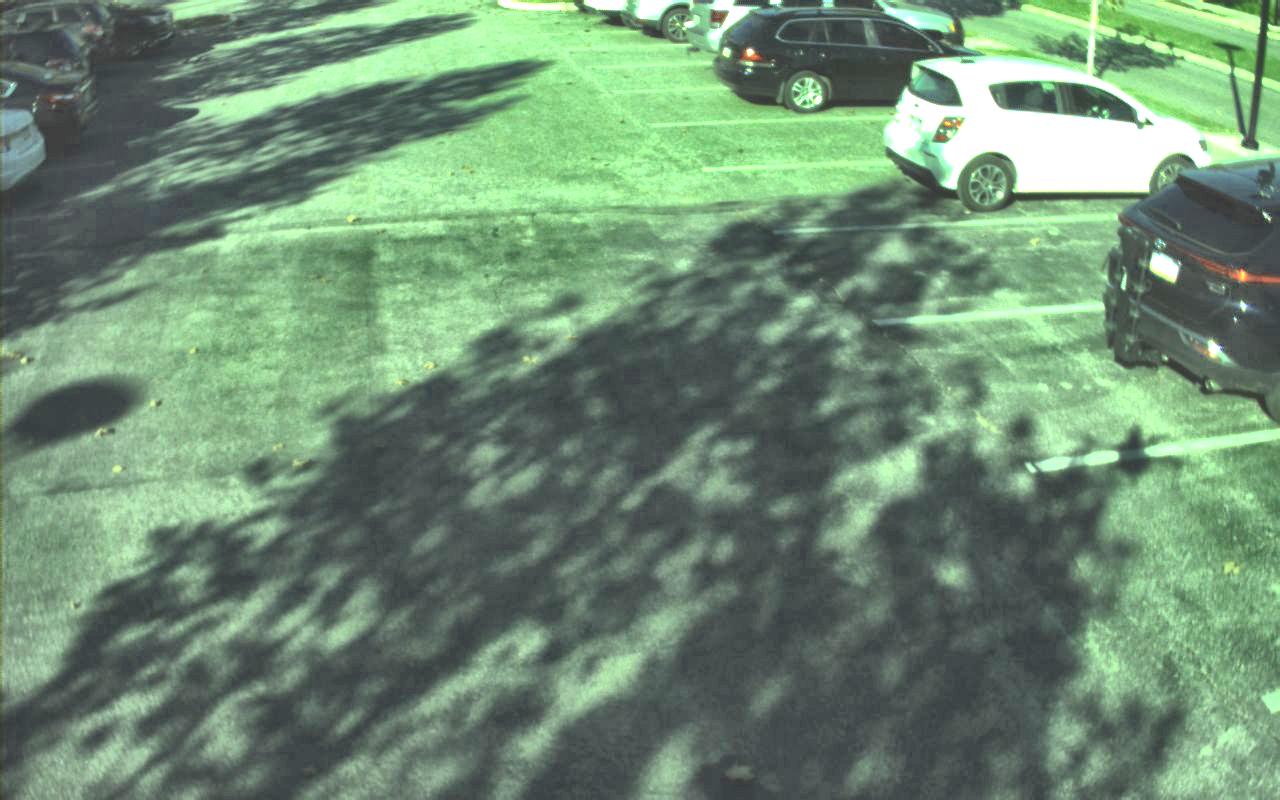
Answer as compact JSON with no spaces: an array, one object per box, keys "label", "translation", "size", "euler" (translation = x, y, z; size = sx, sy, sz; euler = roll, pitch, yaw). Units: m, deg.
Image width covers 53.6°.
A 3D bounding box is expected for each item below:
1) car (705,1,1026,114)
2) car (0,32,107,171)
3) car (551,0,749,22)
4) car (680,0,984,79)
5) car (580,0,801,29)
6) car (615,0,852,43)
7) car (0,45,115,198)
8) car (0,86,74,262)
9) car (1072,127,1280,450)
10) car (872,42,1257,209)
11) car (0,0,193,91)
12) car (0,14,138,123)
[{"label":"car","translation":[3.386,-5.130,18.198],"size":[4.480,1.571,1.938],"euler":[-5,17,-12]},{"label":"car","translation":[-10.895,-4.811,17.464],"size":[4.466,1.647,1.978],"euler":[-5,17,-14]},{"label":"car","translation":[0.208,-10.233,30.035],"size":[4.530,1.788,2.015],"euler":[-5,17,-13]},{"label":"car","translation":[3.243,-6.412,20.520],"size":[4.792,1.877,2.064],"euler":[-4,16,-10]},{"label":"car","translation":[1.108,-9.265,27.430],"size":[4.617,1.805,2.022],"euler":[-5,17,-12]},{"label":"car","translation":[1.905,-8.258,25.157],"size":[4.540,1.775,1.990],"euler":[-4,17,-11]},{"label":"car","translation":[-9.801,-3.979,15.464],"size":[4.428,1.600,1.953],"euler":[-4,17,-11]},{"label":"car","translation":[-9.324,-2.778,13.150],"size":[4.396,1.580,1.942],"euler":[-3,16,-7]},{"label":"car","translation":[5.422,-1.142,8.776],"size":[4.485,1.754,1.985],"euler":[-13,20,-34]},{"label":"car","translation":[4.921,-3.151,13.524],"size":[4.248,1.653,1.915],"euler":[-4,17,-11]},{"label":"car","translation":[-12.382,-8.013,25.232],"size":[4.487,1.641,1.970],"euler":[-4,17,-11]},{"label":"car","translation":[-12.646,-6.765,22.531],"size":[4.482,1.672,1.994],"euler":[-3,16,-7]}]
